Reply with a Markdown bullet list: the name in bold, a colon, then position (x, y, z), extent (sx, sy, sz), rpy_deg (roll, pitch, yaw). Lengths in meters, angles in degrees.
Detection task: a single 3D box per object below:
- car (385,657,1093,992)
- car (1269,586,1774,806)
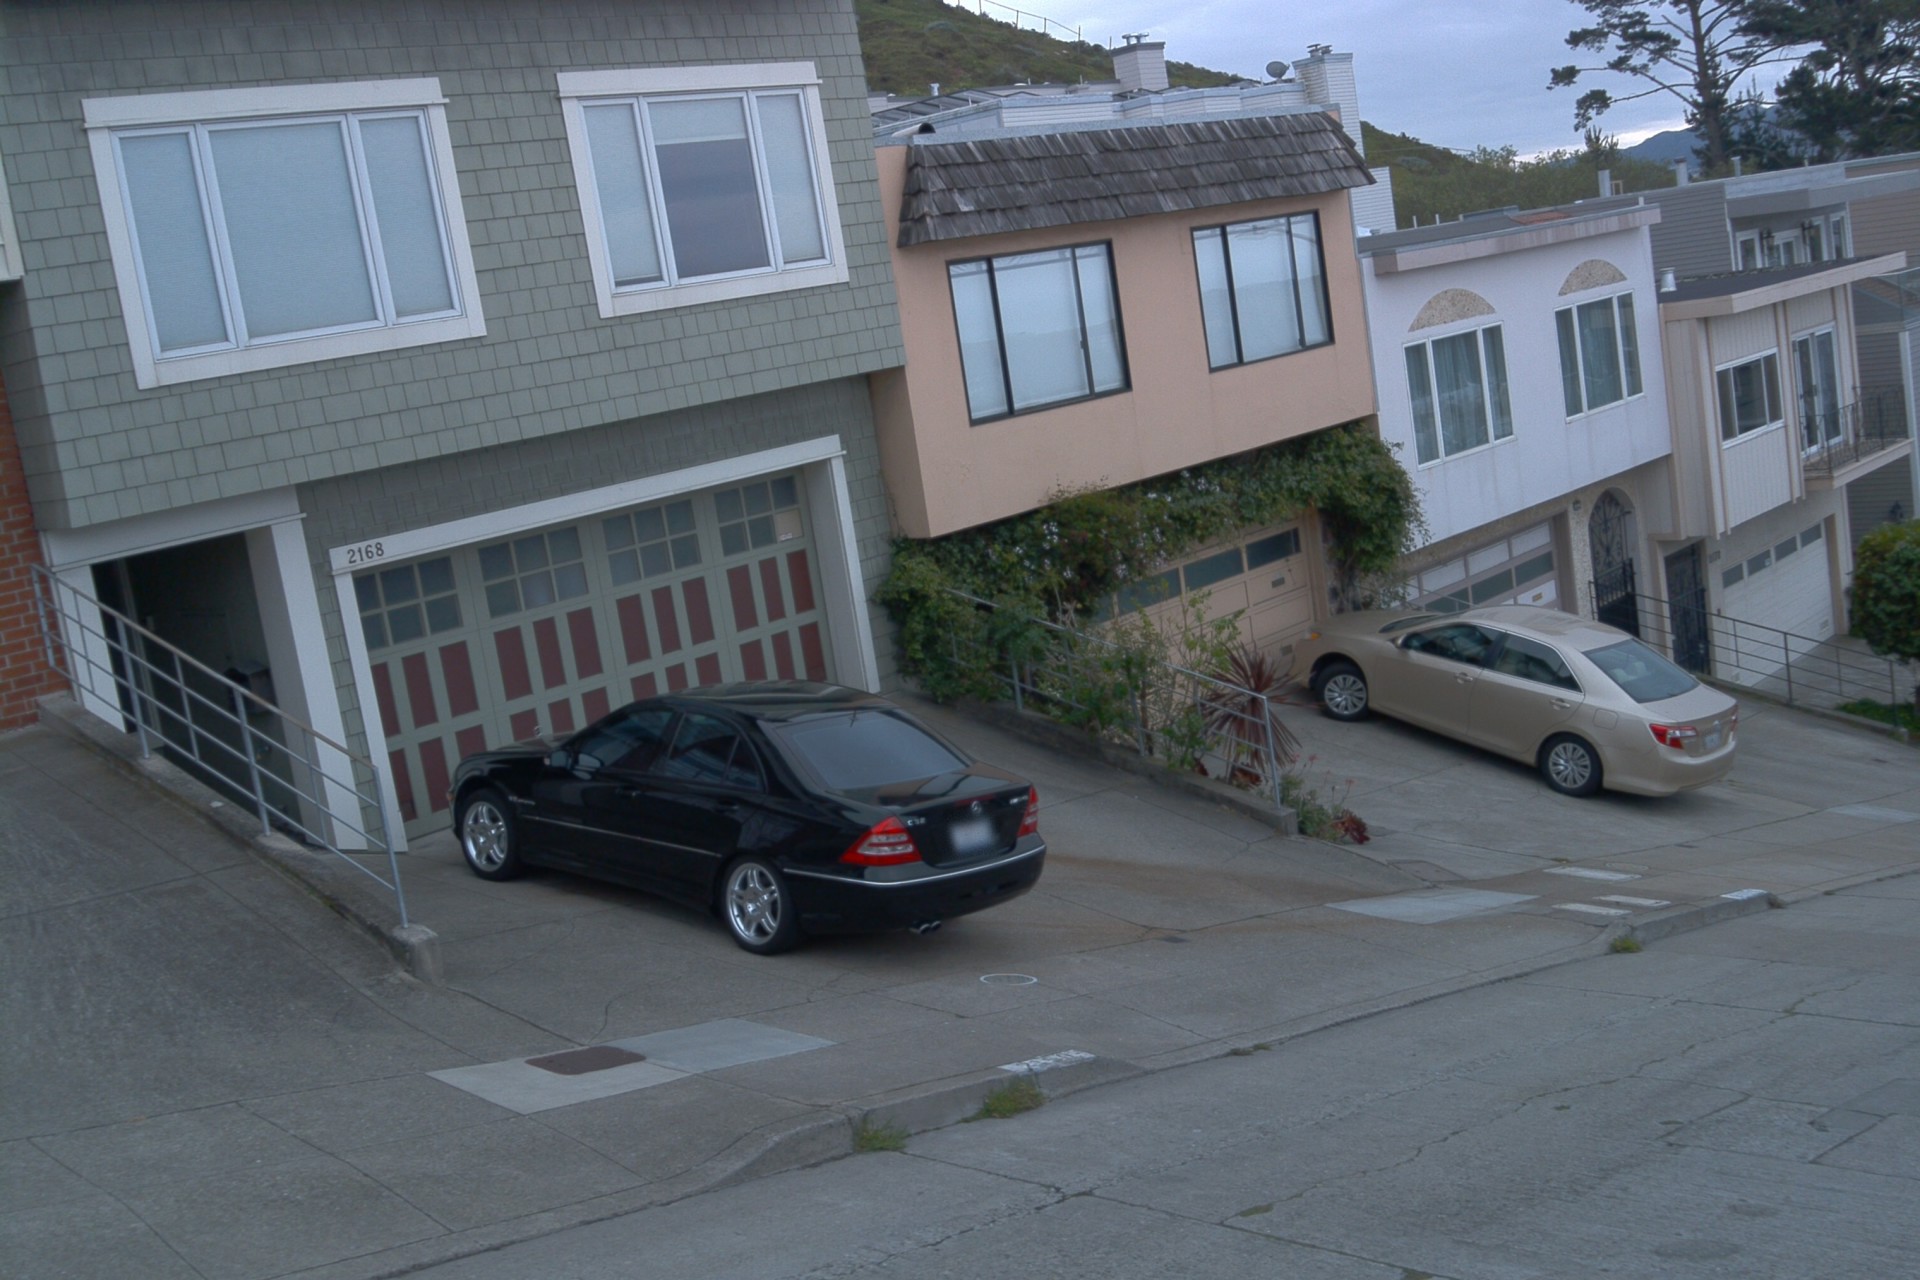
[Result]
- **car**: position (-1.552, 0.993, 13.073), extent (4.517, 1.660, 2.026), rpy_deg (1, 1, 43)
- **car**: position (5.763, 0.487, 21.495), extent (2.136, 2.040, 4.664), rpy_deg (0, 1, -43)
